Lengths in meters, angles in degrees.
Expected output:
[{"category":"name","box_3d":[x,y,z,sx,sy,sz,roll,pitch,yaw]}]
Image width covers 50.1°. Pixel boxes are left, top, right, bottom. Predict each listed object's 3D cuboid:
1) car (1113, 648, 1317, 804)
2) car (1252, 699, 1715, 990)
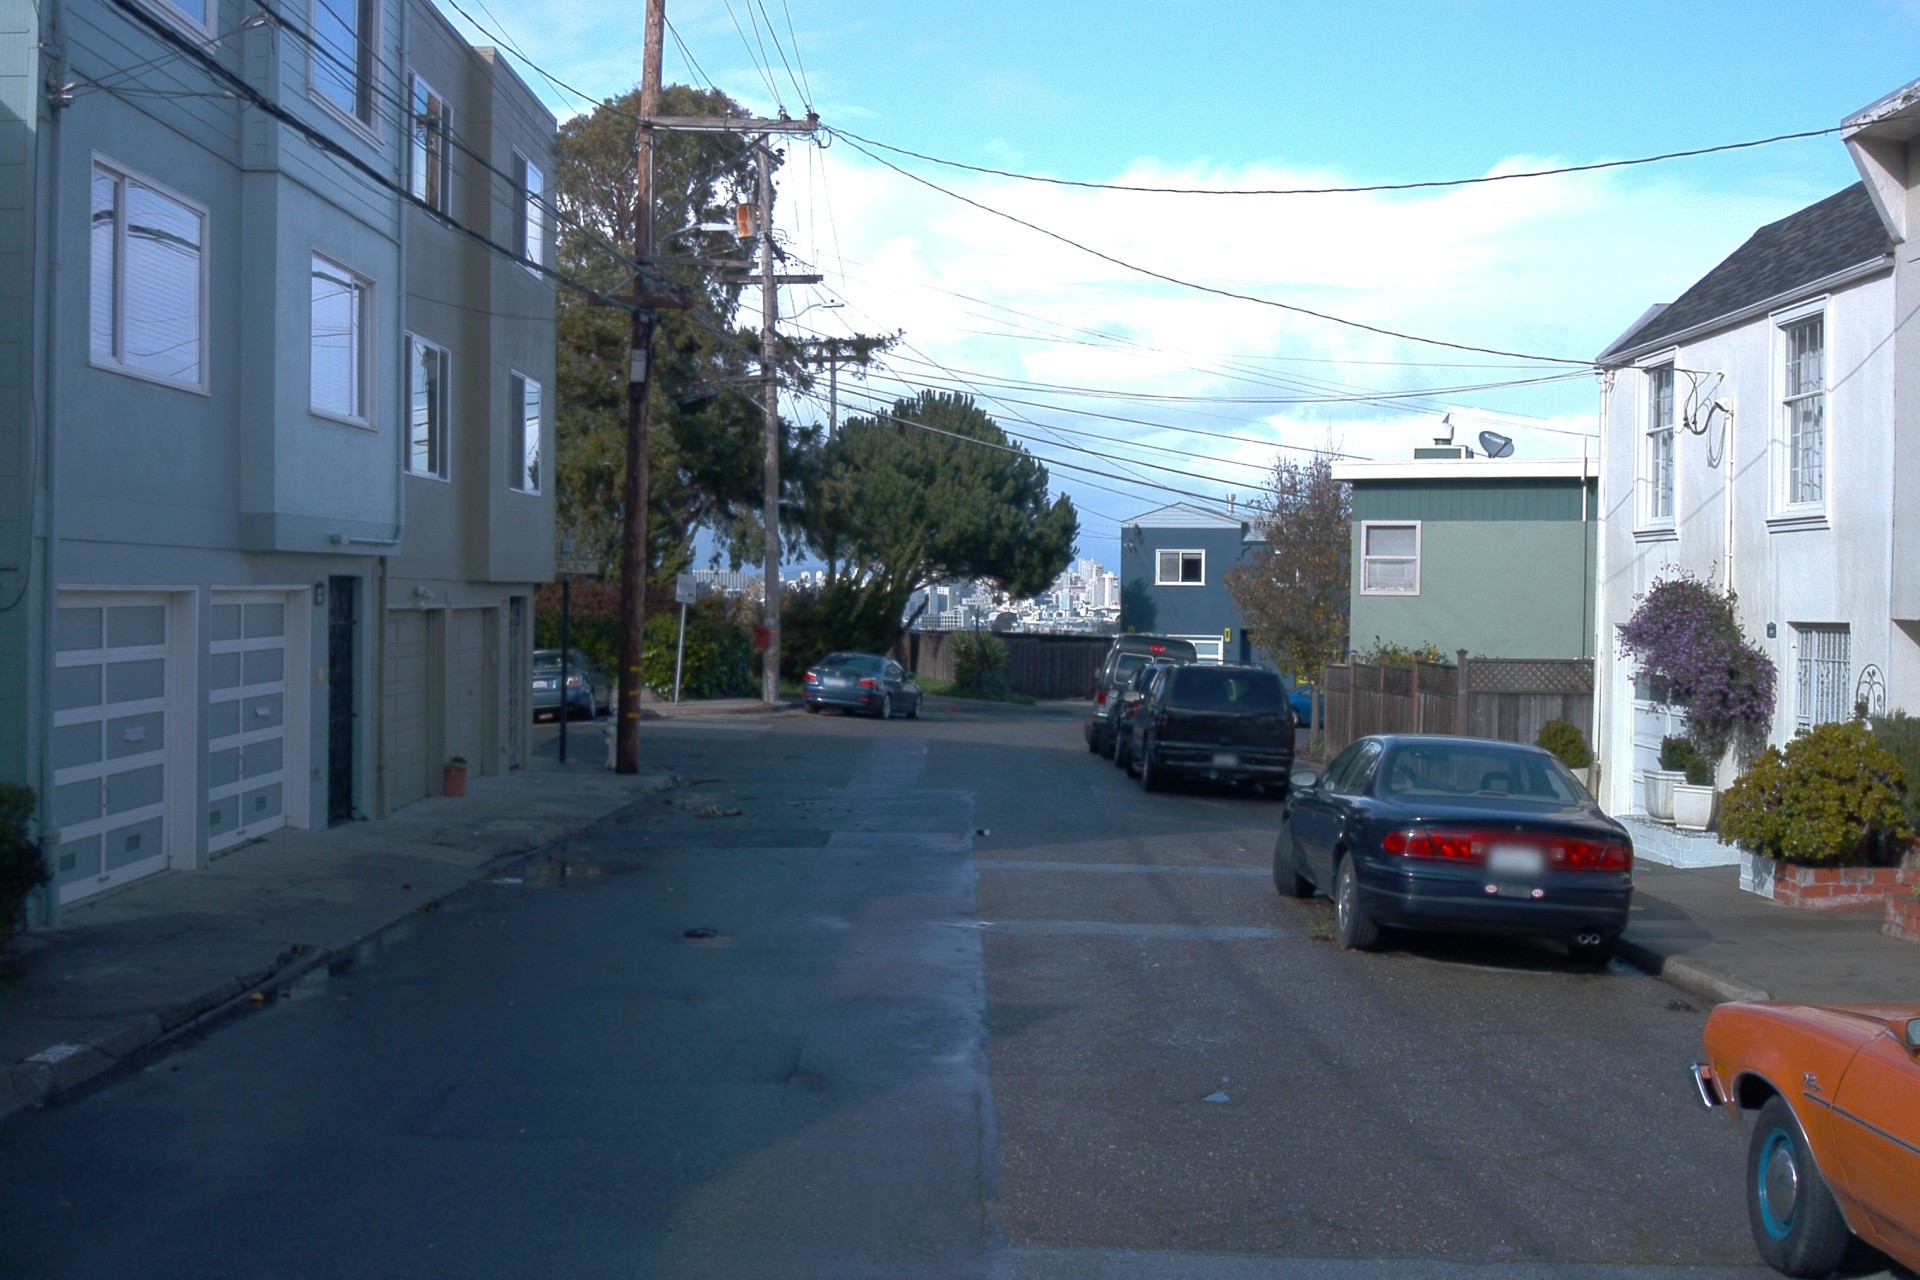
[{"category":"car","box_3d":[3.522,1.133,29.395,2.280,1.880,5.115,1,1,0]},{"category":"car","box_3d":[3.538,1.318,14.994,2.124,1.510,4.928,1,1,0]}]
